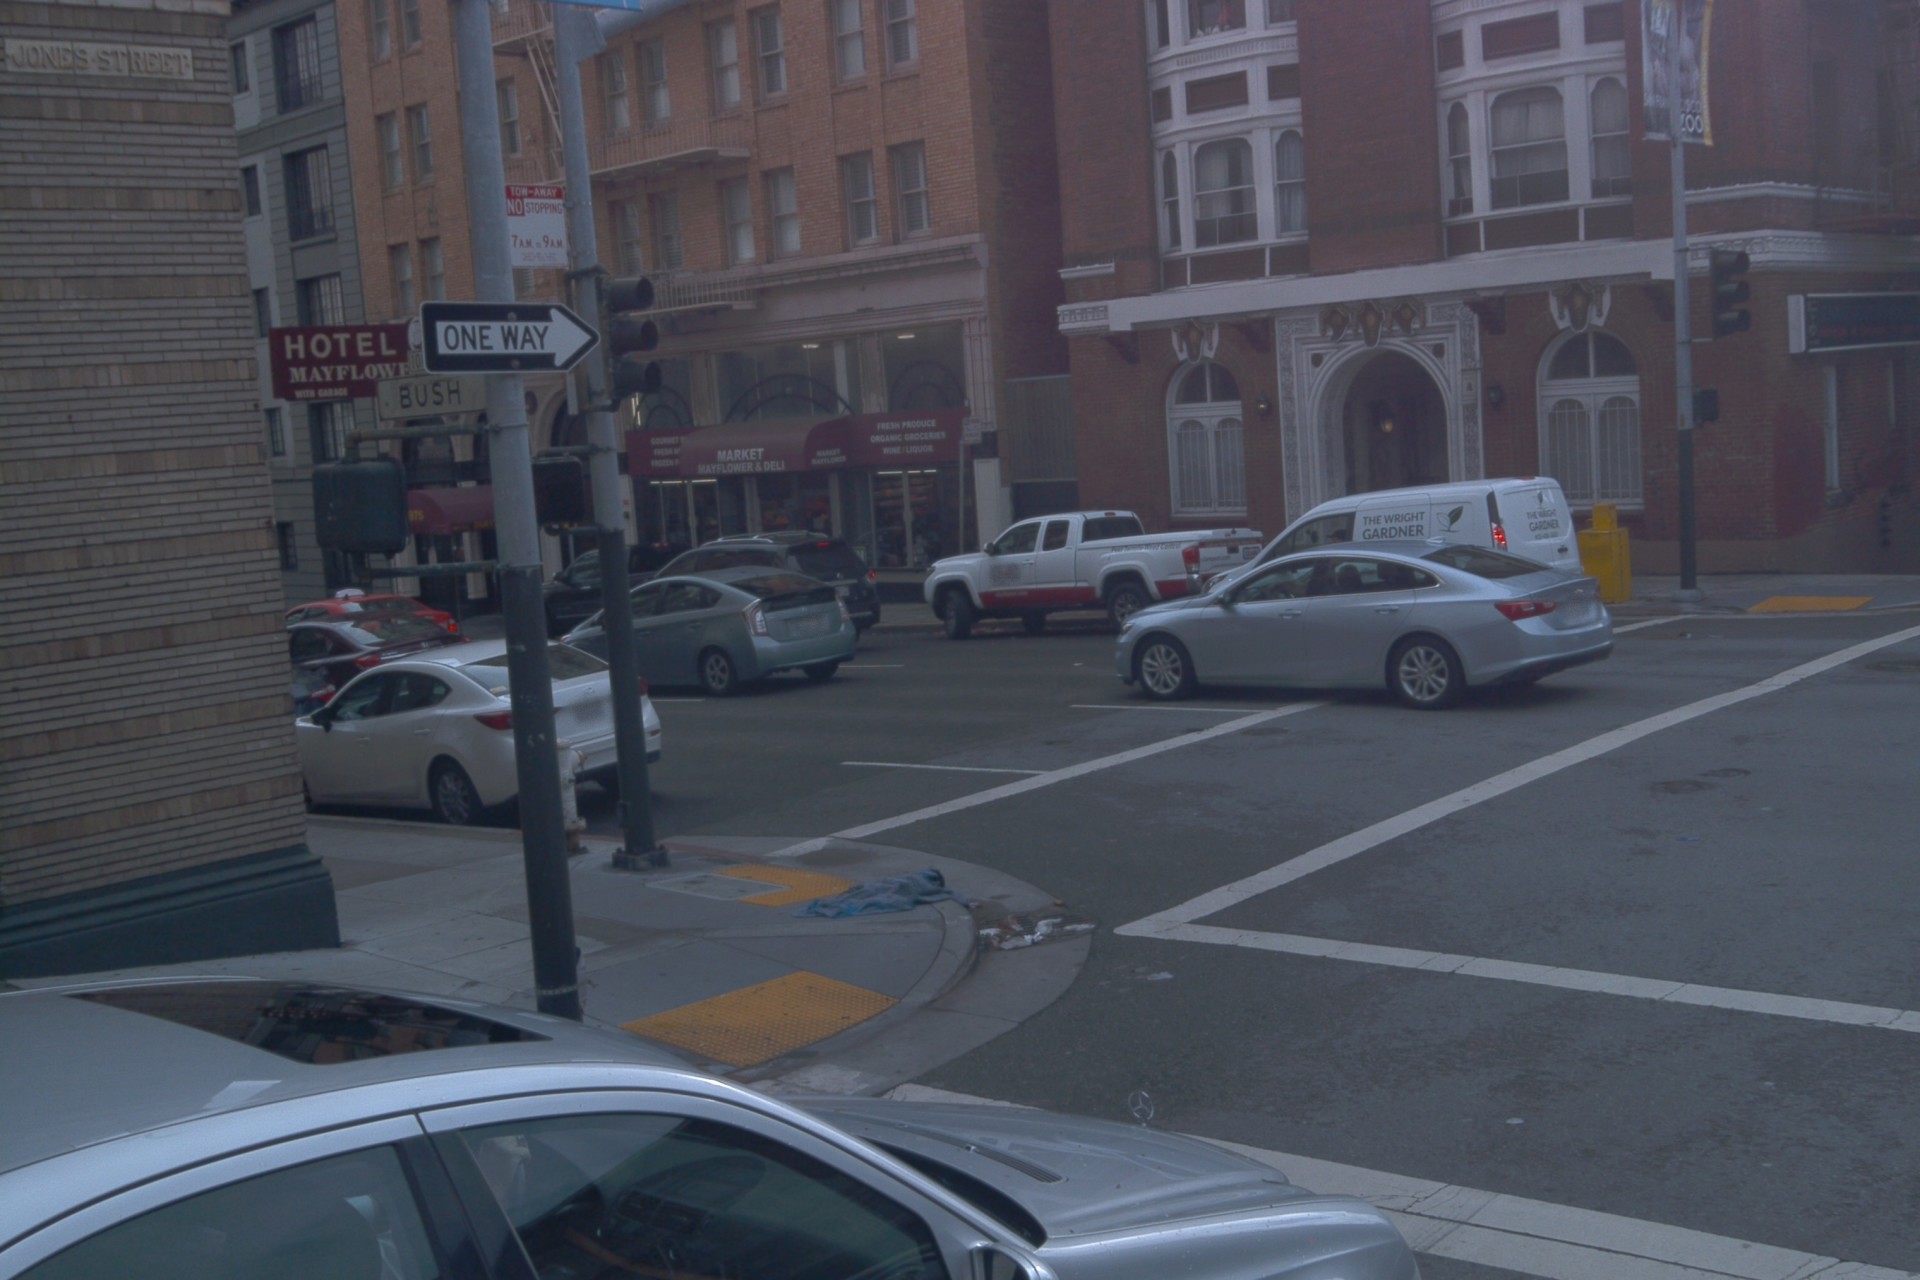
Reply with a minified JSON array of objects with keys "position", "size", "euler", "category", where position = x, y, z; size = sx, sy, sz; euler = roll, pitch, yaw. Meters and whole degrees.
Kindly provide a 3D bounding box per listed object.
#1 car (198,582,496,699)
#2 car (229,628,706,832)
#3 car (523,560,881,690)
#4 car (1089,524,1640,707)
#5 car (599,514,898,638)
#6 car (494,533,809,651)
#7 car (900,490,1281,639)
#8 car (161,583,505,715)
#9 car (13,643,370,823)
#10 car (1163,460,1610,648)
[{"position":[-9.734,-0.043,32.179],"size":[4.902,1.680,2.362],"euler":[2,1,43],"category":"car"},{"position":[-4.418,0.685,17.944],"size":[4.290,1.490,2.048],"euler":[2,1,43],"category":"car"},{"position":[-3.291,-0.227,25.405],"size":[4.500,1.470,2.058],"euler":[2,1,45],"category":"car"},{"position":[3.636,-0.258,19.000],"size":[4.727,1.500,1.880],"euler":[2,1,43],"category":"car"},{"position":[-3.219,-0.938,30.385],"size":[4.624,1.700,1.865],"euler":[2,1,44],"category":"car"},{"position":[-5.641,-0.870,36.739],"size":[5.917,1.960,2.408],"euler":[2,1,43],"category":"car"},{"position":[1.777,-1.055,29.322],"size":[5.308,1.950,2.112],"euler":[2,1,43],"category":"car"},{"position":[-7.977,0.060,25.734],"size":[4.617,1.480,2.037],"euler":[2,1,42],"category":"car"},{"position":[-8.238,0.894,21.685],"size":[4.190,1.610,1.891],"euler":[2,1,43],"category":"car"},{"position":[4.615,-0.908,22.556],"size":[4.461,1.870,1.947],"euler":[2,1,45],"category":"car"}]
